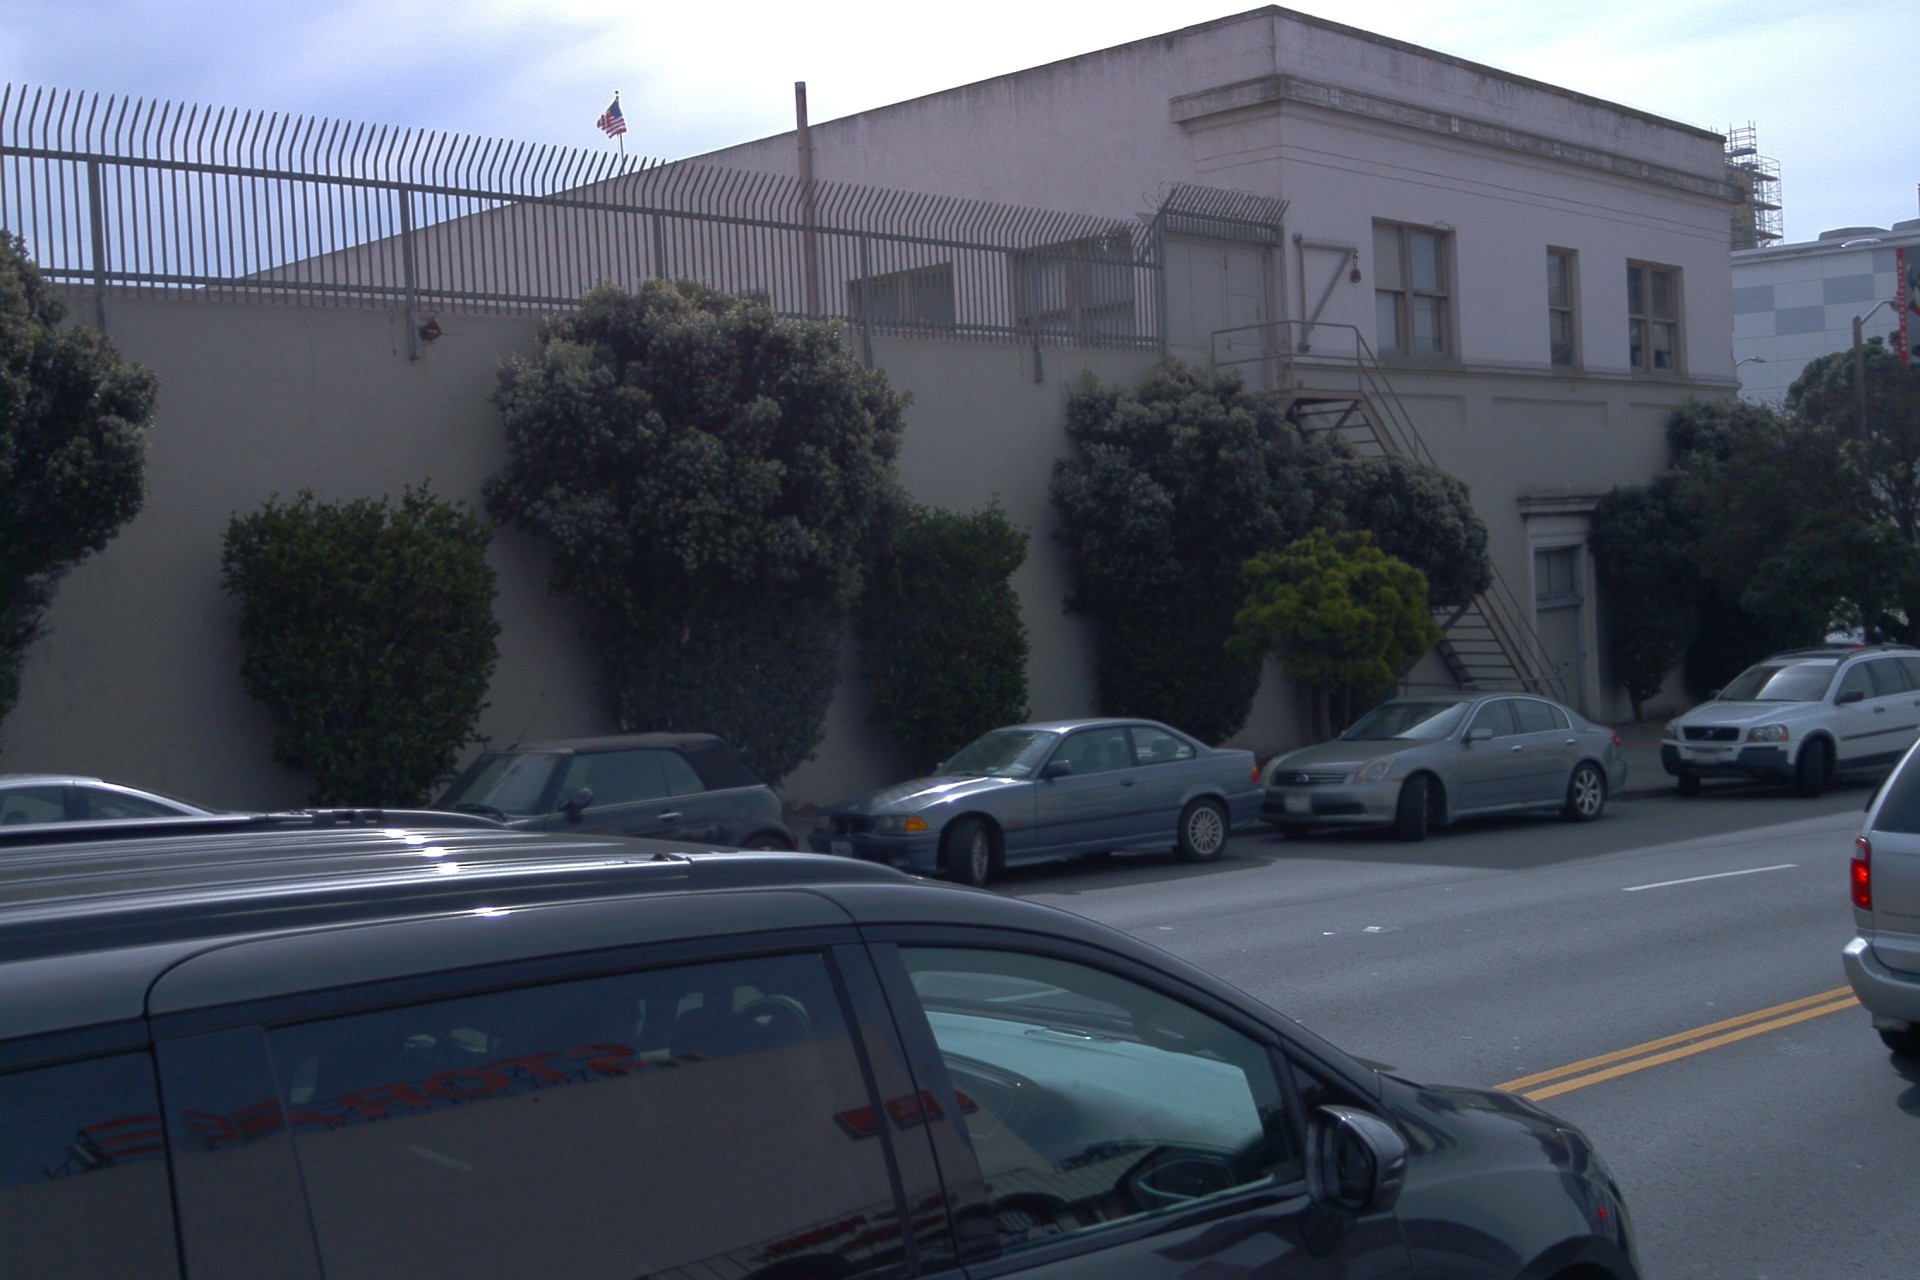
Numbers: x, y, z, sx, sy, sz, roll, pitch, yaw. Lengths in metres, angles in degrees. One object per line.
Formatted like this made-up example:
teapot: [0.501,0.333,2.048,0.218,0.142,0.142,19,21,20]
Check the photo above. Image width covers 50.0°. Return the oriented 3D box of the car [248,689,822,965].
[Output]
car: [-2.999,1.234,14.999,1.796,1.600,3.729,1,1,44]

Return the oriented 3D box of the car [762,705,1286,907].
car: [0.649,1.382,18.446,4.448,1.390,2.035,-1,1,-39]

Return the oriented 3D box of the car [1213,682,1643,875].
car: [5.011,1.351,21.684,4.687,1.660,2.019,-1,1,-41]
